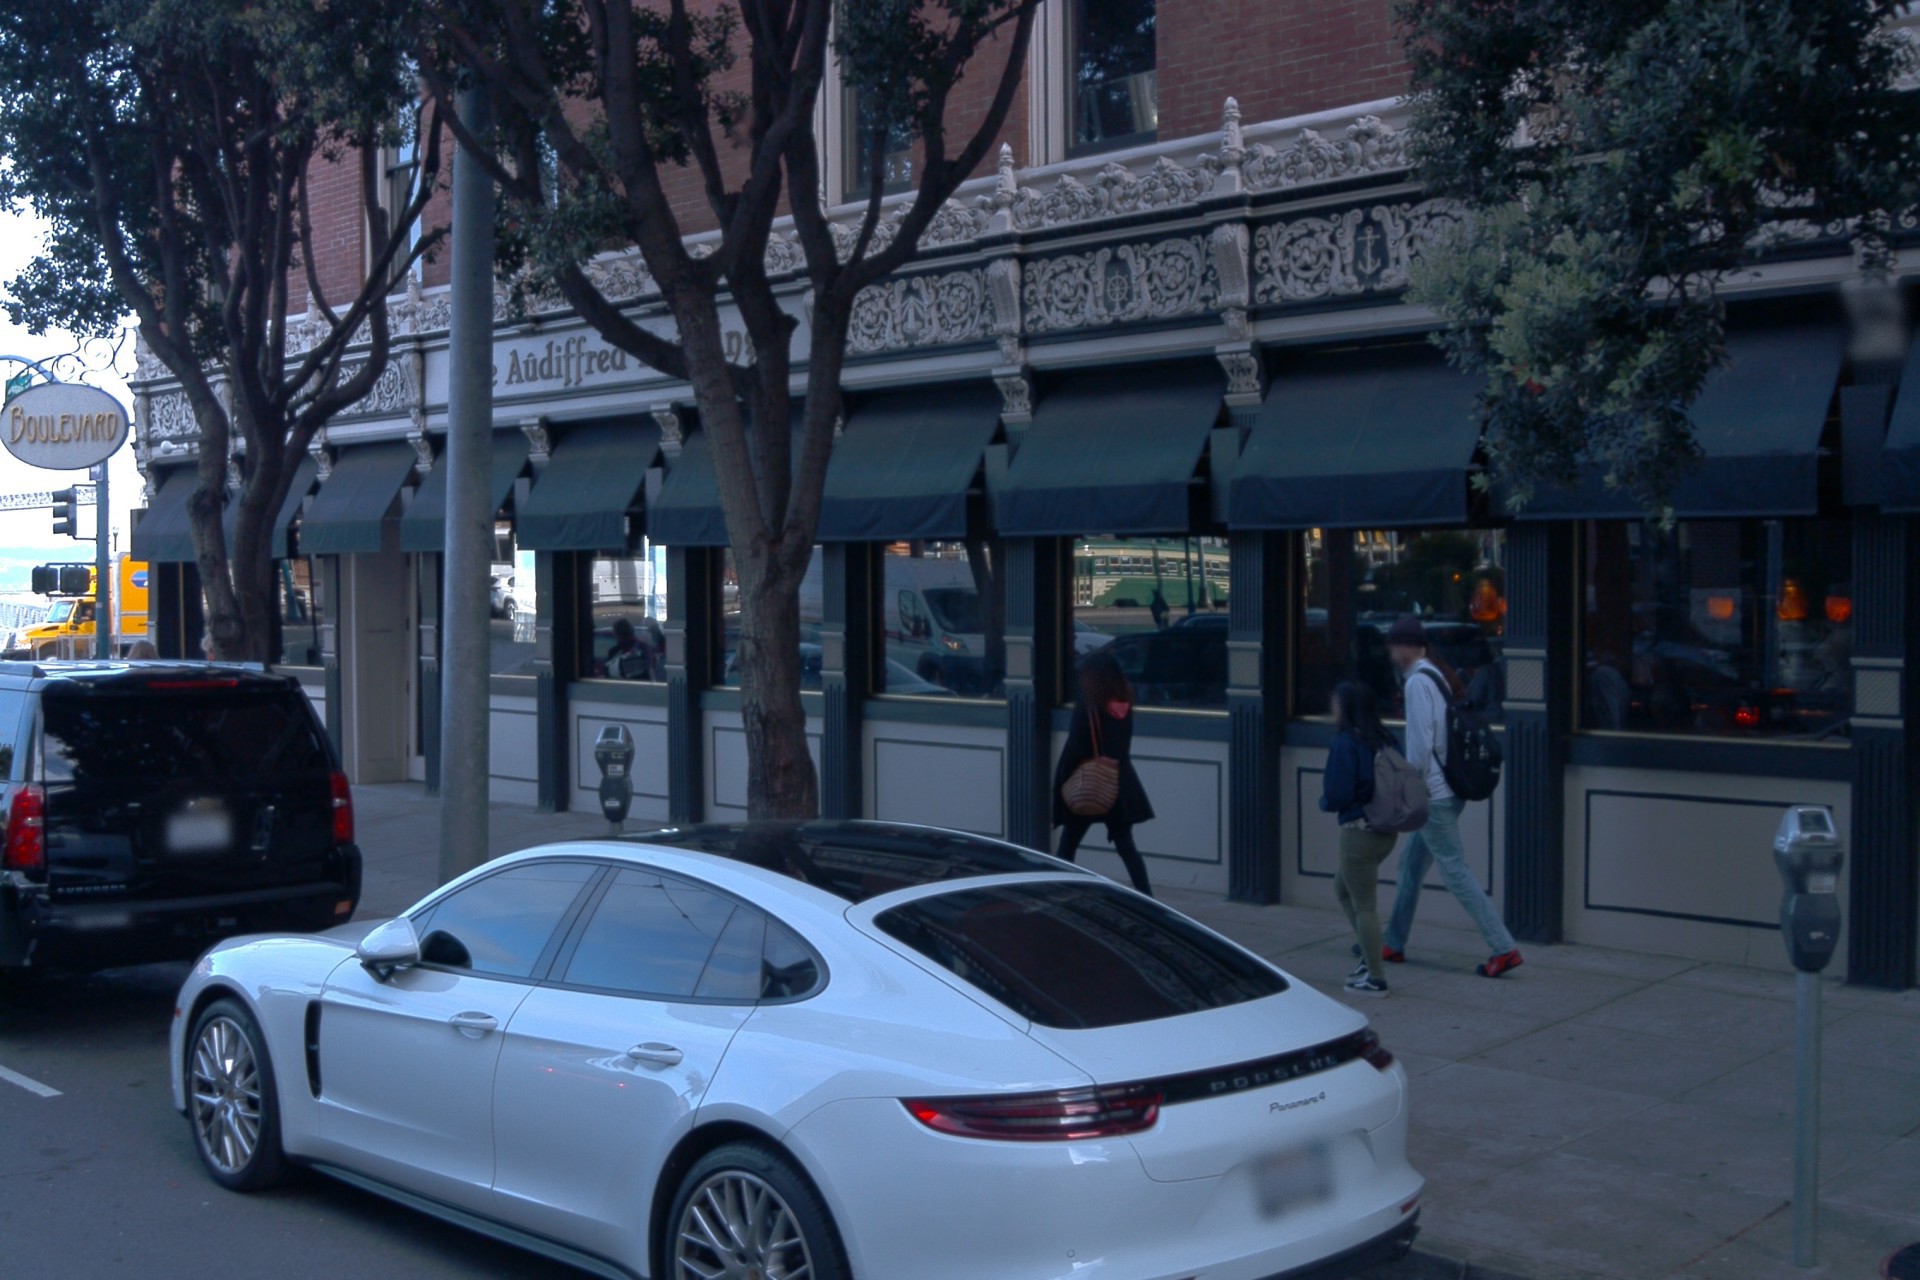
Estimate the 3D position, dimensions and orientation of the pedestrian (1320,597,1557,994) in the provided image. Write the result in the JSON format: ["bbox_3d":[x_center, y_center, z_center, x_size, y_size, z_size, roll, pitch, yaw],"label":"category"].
[{"bbox_3d":[2.453,0.748,10.545,0.917,1.920,0.771,0,0,44],"label":"pedestrian"}]

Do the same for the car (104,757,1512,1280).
[{"bbox_3d":[-0.844,1.276,6.923,4.856,1.450,1.994,0,1,44],"label":"car"}]

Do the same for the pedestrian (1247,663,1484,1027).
[{"bbox_3d":[1.967,0.947,9.998,0.895,1.650,0.692,0,0,43],"label":"pedestrian"}]

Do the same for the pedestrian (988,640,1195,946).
[{"bbox_3d":[0.764,0.850,12.025,0.934,1.690,0.759,0,0,43],"label":"pedestrian"}]

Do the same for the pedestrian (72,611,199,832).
[{"bbox_3d":[-7.040,0.672,17.550,0.814,1.828,0.726,0,0,43],"label":"pedestrian"}]
